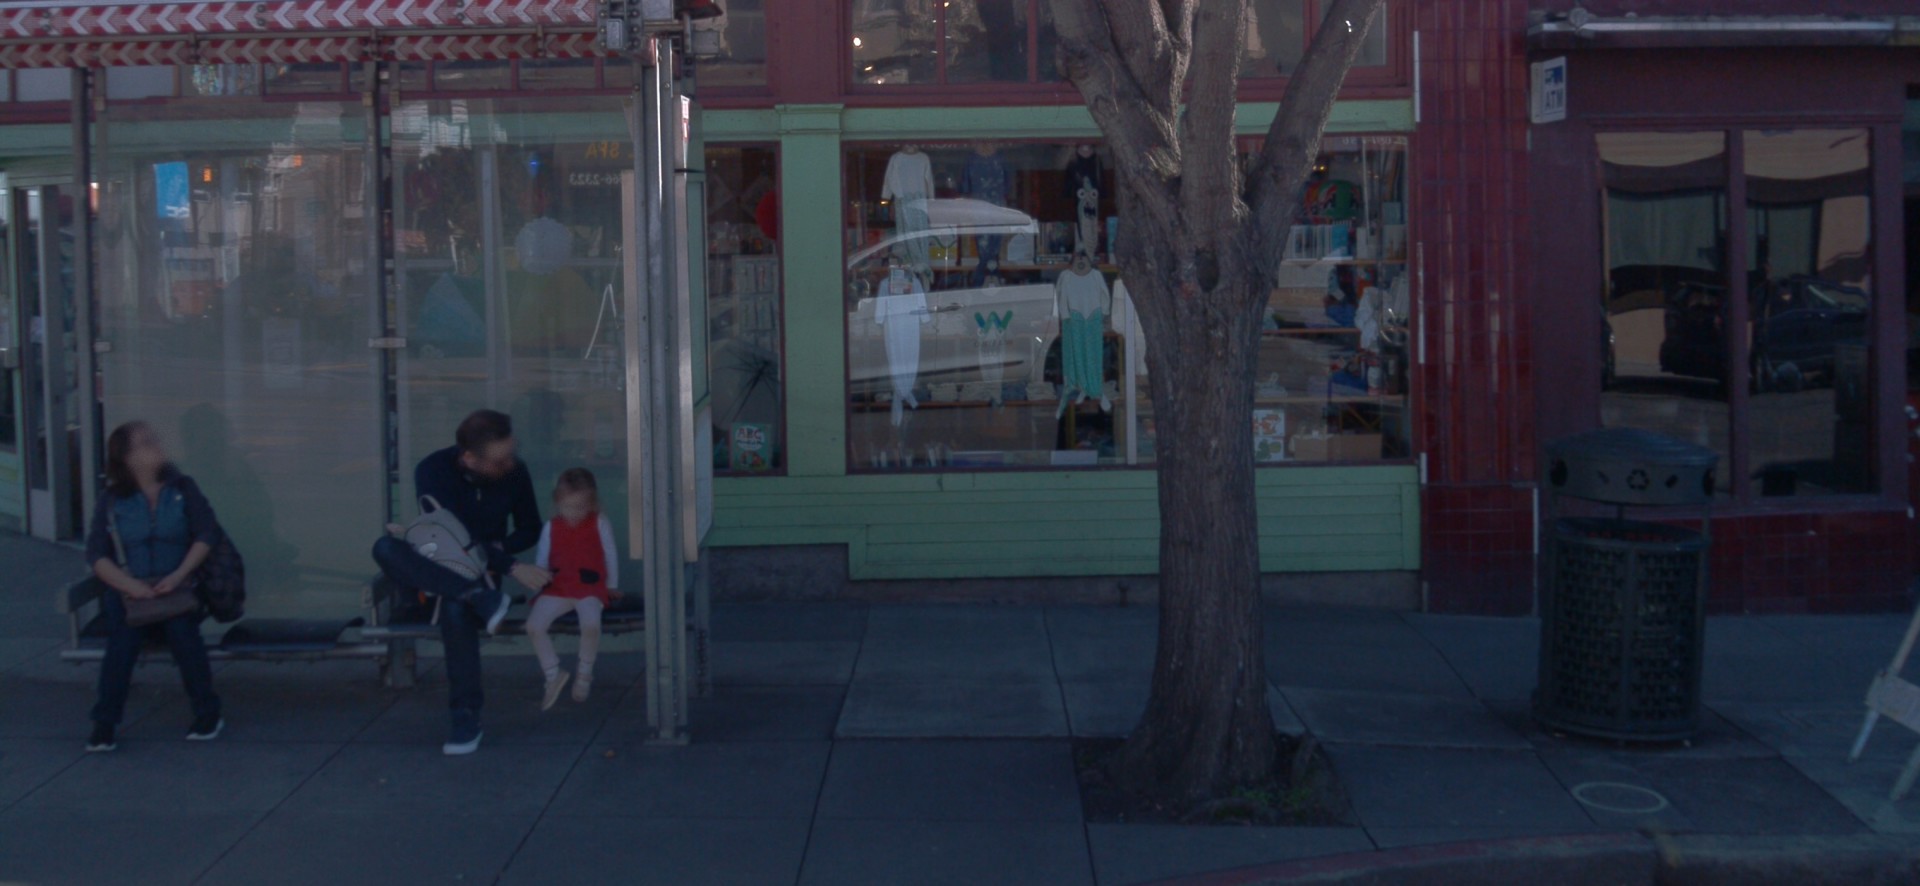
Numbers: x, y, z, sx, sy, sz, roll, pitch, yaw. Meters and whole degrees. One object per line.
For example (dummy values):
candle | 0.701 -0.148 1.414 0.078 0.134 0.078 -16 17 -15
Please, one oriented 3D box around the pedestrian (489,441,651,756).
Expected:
pedestrian | -1.491 0.577 7.955 0.528 1.098 0.572 0 2 -3

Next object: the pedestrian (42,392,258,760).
pedestrian | -3.138 0.475 8.059 0.737 1.258 0.794 -1 2 -19

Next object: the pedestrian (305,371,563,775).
pedestrian | -2.000 0.457 7.974 0.753 1.398 0.926 0 2 0
